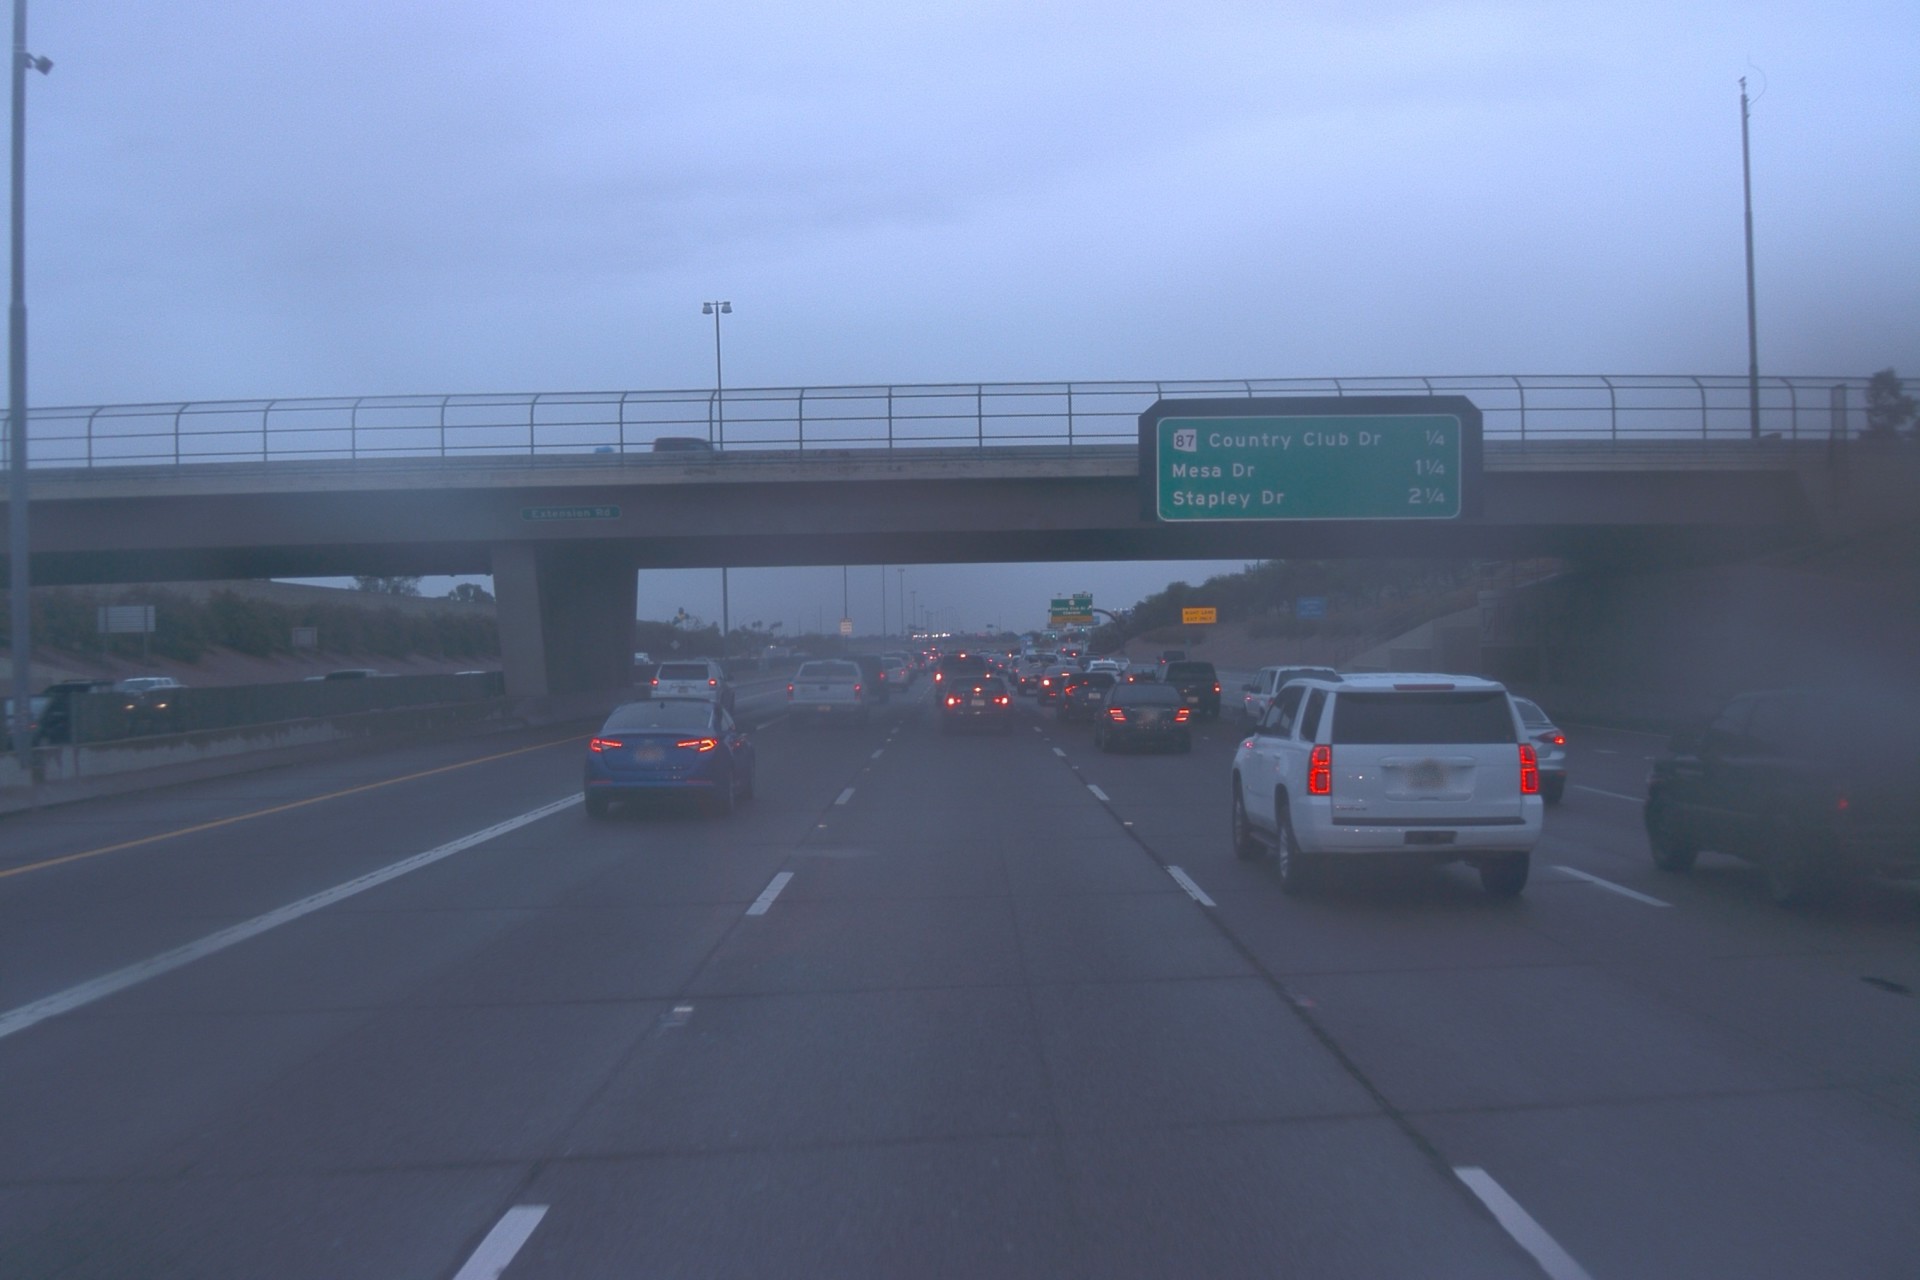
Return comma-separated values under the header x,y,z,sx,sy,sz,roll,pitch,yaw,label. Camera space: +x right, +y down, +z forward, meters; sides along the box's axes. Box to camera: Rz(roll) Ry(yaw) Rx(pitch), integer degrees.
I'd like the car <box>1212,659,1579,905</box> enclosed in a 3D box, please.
x,y,z,sx,sy,sz,roll,pitch,yaw,label
3.763,1.147,19.023,2.316,1.930,5.083,0,0,0,car

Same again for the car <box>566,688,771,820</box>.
x,y,z,sx,sy,sz,roll,pitch,yaw,label
-3.723,1.424,27.286,1.988,1.510,4.517,0,0,1,car

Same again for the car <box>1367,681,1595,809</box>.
x,y,z,sx,sy,sz,roll,pitch,yaw,label
7.300,1.424,29.586,2.097,1.610,4.568,0,0,0,car
